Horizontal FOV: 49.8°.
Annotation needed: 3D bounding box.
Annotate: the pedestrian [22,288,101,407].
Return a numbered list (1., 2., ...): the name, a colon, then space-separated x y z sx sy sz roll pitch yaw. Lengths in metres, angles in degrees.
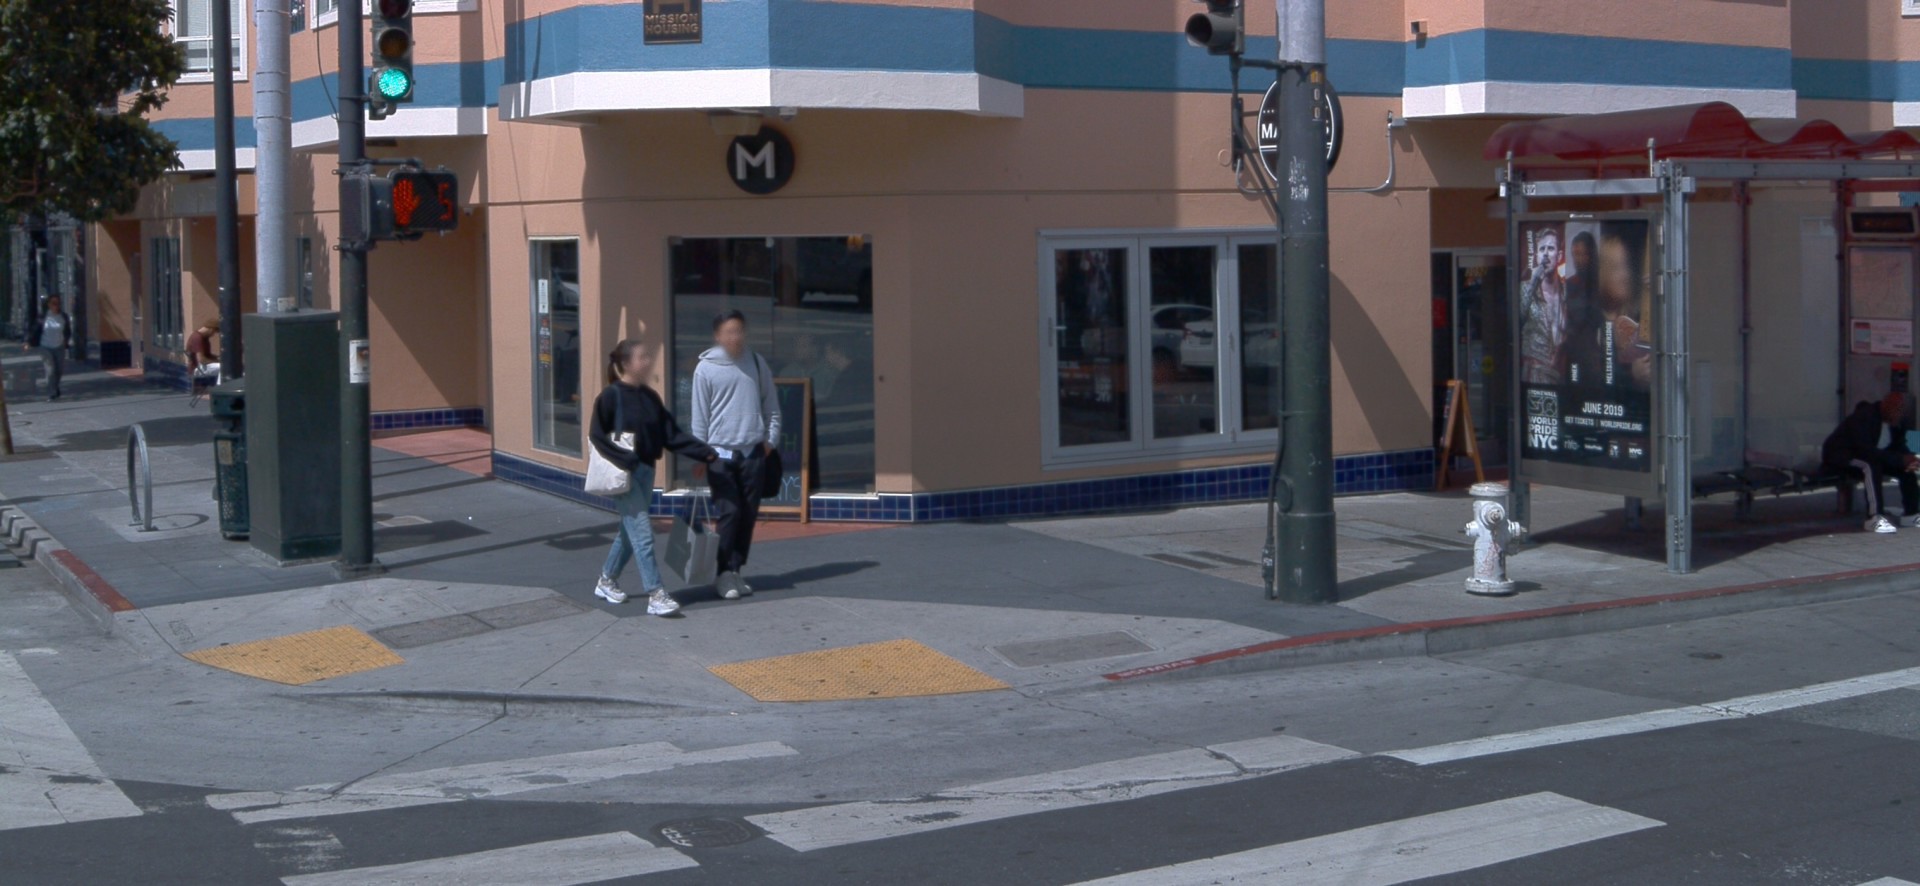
1. pedestrian: -13.353 -1.436 30.694 0.957 1.664 0.886 -2 3 -30

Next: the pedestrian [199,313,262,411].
1. pedestrian: -9.962 -1.122 28.225 0.777 1.257 0.853 -1 3 -19

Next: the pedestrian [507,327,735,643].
1. pedestrian: -1.997 0.196 12.130 0.883 1.676 1.042 -3 3 -41

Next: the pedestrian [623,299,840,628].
1. pedestrian: -1.396 0.071 12.530 0.950 1.826 1.042 -2 3 -30
